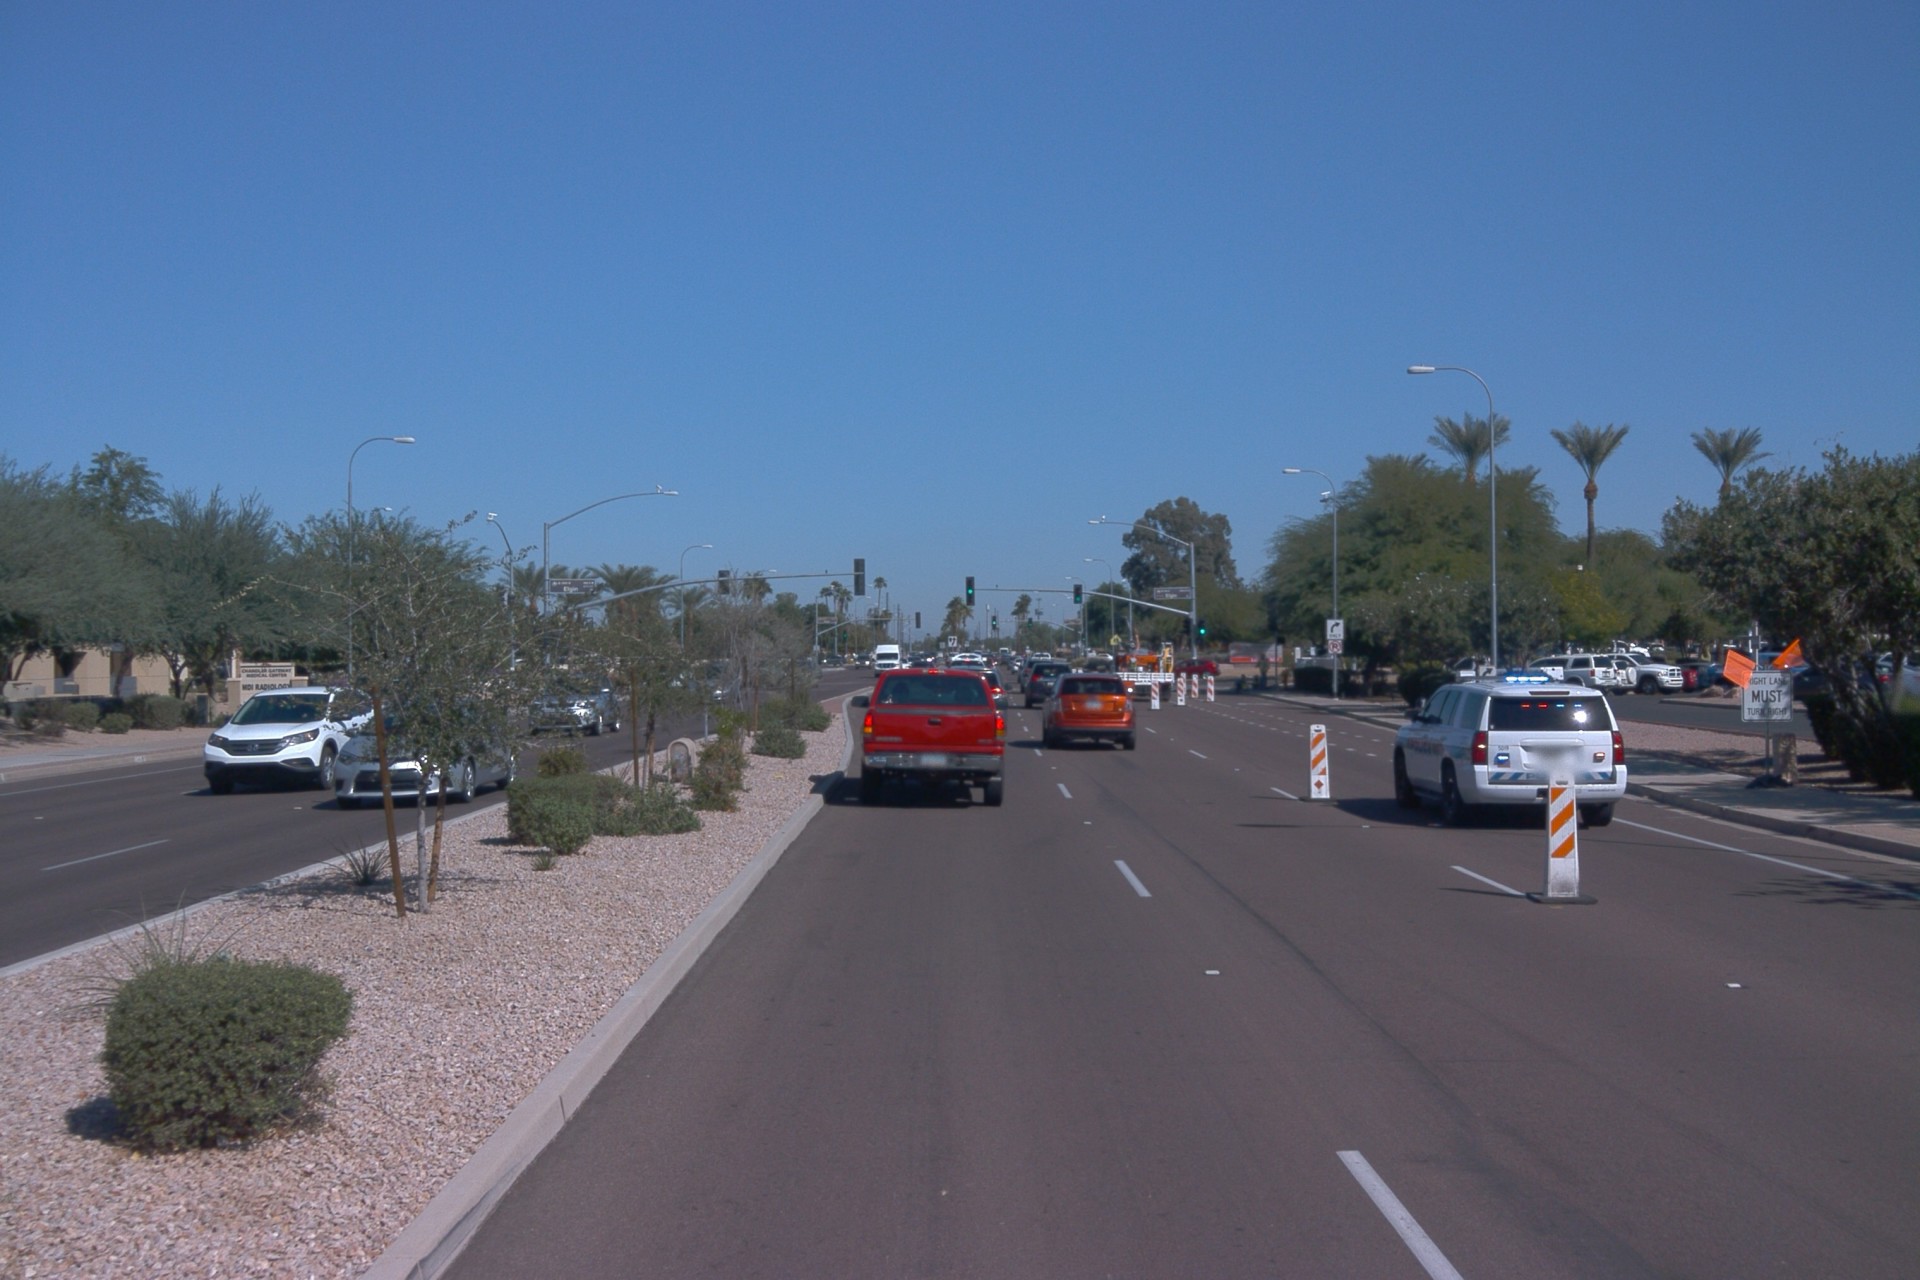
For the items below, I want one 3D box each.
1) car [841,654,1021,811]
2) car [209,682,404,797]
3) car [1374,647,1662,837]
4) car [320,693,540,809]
[{"bbox_3d":[-0.453,1.232,29.893,2.340,2.010,5.847,0,0,-1],"label":"car"},{"bbox_3d":[-10.721,1.586,34.283,1.857,1.710,4.220,0,0,1],"label":"car"},{"bbox_3d":[7.183,1.222,27.323,2.367,2.250,5.385,0,0,0],"label":"car"},{"bbox_3d":[-7.558,1.552,29.995,2.057,1.450,4.417,0,0,0],"label":"car"}]
